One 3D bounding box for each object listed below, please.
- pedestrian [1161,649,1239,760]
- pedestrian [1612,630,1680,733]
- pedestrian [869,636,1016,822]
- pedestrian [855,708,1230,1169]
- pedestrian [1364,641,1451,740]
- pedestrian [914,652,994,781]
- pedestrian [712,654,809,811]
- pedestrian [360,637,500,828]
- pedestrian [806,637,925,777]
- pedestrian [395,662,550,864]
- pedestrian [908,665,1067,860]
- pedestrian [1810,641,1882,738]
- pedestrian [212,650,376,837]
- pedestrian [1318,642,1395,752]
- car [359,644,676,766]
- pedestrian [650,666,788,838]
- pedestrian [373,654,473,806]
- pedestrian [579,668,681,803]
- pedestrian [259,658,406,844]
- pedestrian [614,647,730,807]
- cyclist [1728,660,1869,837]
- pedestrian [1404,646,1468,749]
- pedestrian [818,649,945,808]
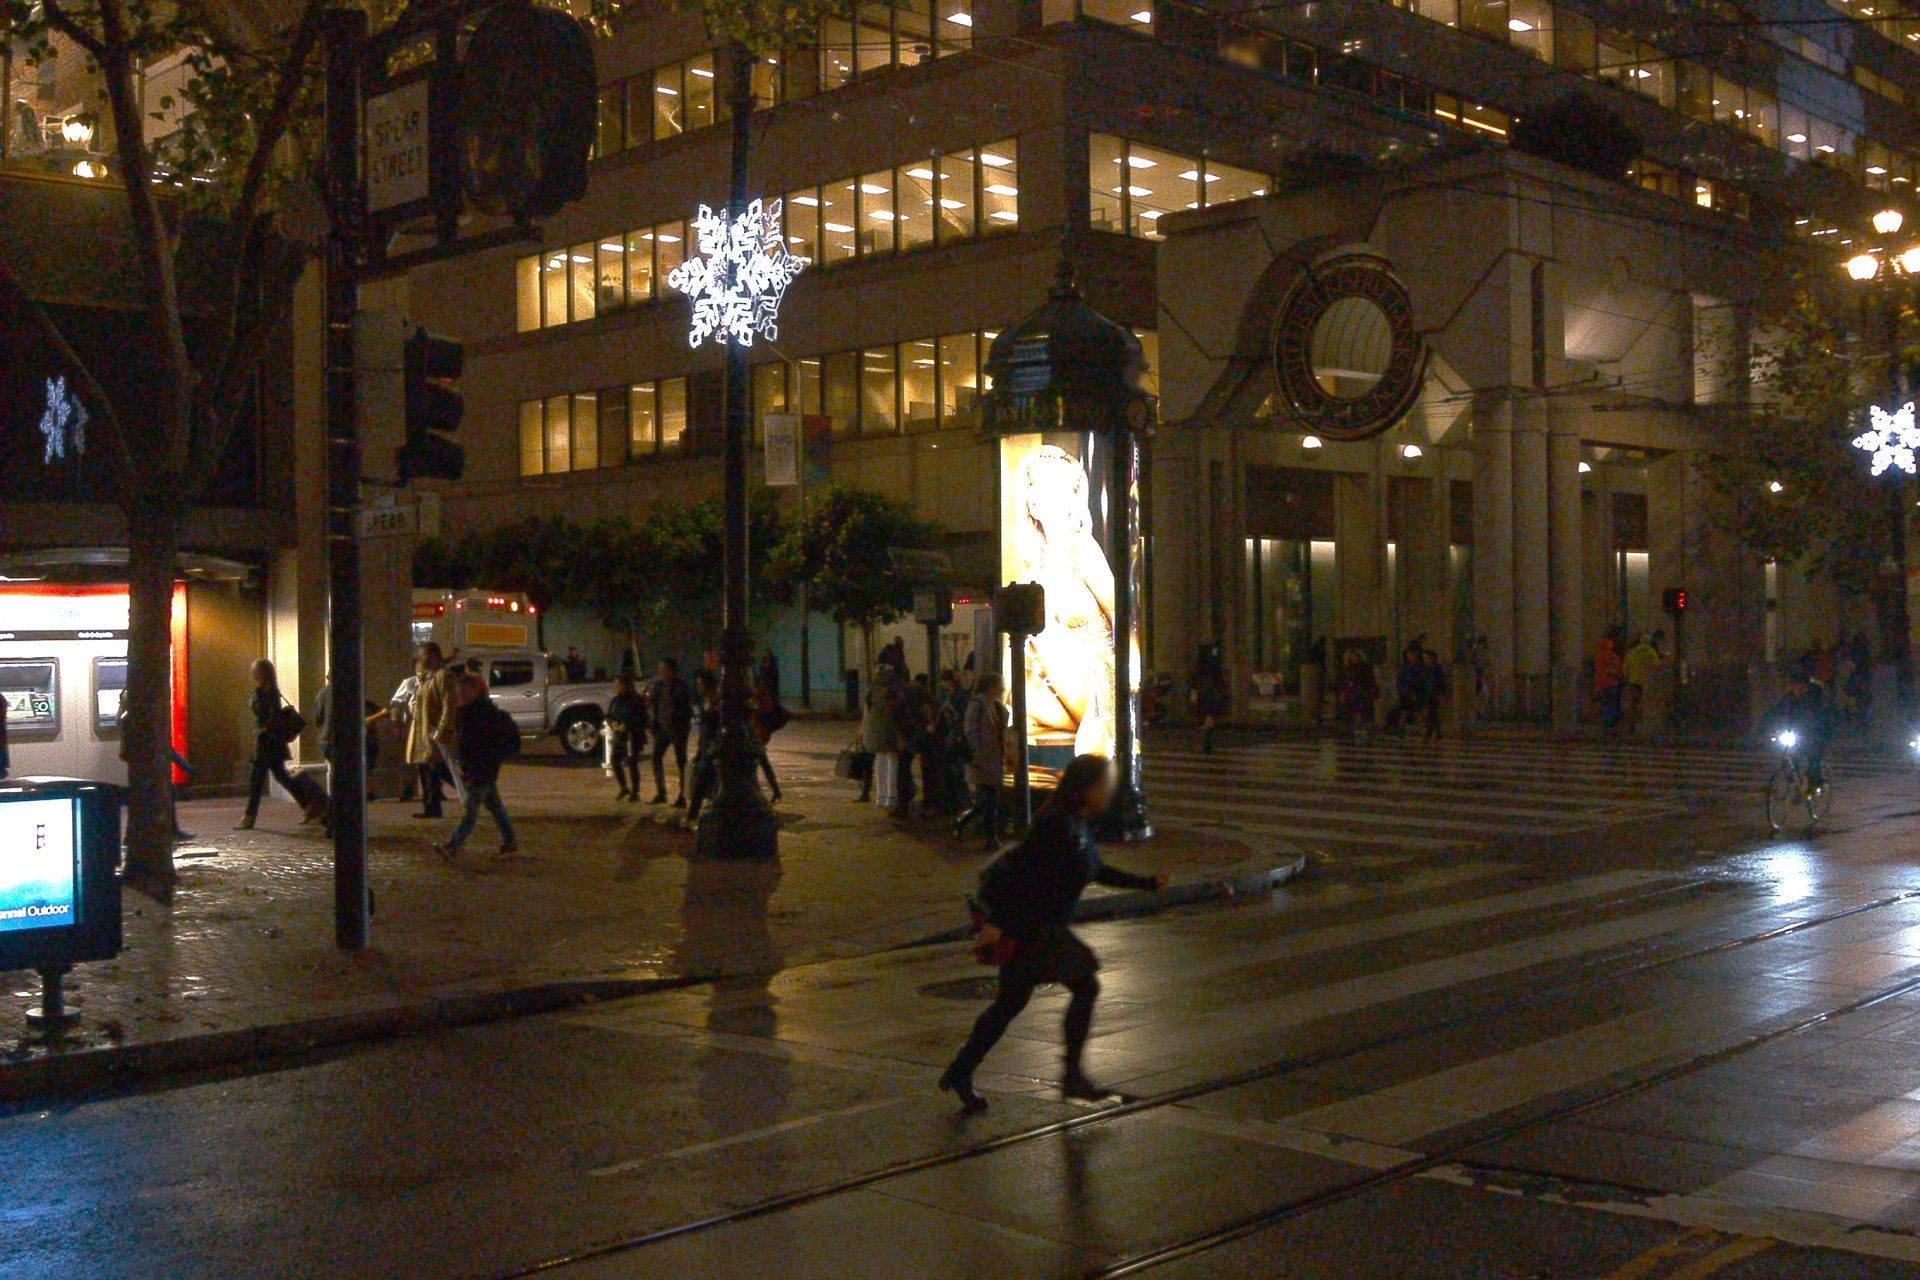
[{"bbox_3d":[3.816,1.007,32.629,0.806,1.710,0.985,1,1,41],"label":"pedestrian"},{"bbox_3d":[12.178,0.728,36.468,0.780,1.780,1.045,1,1,42],"label":"pedestrian"},{"bbox_3d":[-0.180,0.926,22.152,1.418,1.920,0.742,-1,1,-36],"label":"pedestrian"},{"bbox_3d":[0.373,1.213,8.945,1.222,1.750,1.143,1,1,31],"label":"pedestrian"},{"bbox_3d":[7.862,0.869,36.086,0.876,1.680,1.397,1,1,45],"label":"pedestrian"},{"bbox_3d":[-0.075,0.990,27.201,0.623,1.650,0.892,1,1,41],"label":"pedestrian"},{"bbox_3d":[-2.402,1.097,24.753,0.842,1.820,0.812,1,1,41],"label":"pedestrian"},{"bbox_3d":[-5.521,0.931,21.394,1.058,1.900,0.963,-1,1,-45],"label":"pedestrian"},{"bbox_3d":[-1.184,0.813,25.736,1.080,1.680,1.025,1,1,45],"label":"pedestrian"},{"bbox_3d":[-4.214,1.032,17.803,0.699,1.650,1.101,1,1,41],"label":"pedestrian"},{"bbox_3d":[0.258,1.107,19.068,1.116,1.700,0.977,1,1,34],"label":"pedestrian"},{"bbox_3d":[15.303,0.834,35.487,0.995,1.630,0.744,1,1,35],"label":"pedestrian"},{"bbox_3d":[-6.690,1.004,20.633,1.284,1.770,1.035,-1,1,-37],"label":"pedestrian"},{"bbox_3d":[6.634,0.936,34.326,0.860,1.780,0.987,1,1,43],"label":"pedestrian"},{"bbox_3d":[-7.407,1.071,34.750,4.910,1.960,1.934,0,1,0],"label":"car"},{"bbox_3d":[-2.400,1.084,20.430,1.083,1.620,0.886,-1,1,-32],"label":"pedestrian"},{"bbox_3d":[-6.048,0.999,23.170,0.883,1.670,0.697,0,1,6],"label":"pedestrian"},{"bbox_3d":[-3.838,1.097,23.924,0.776,1.500,0.879,1,1,36],"label":"pedestrian"},{"bbox_3d":[-6.029,1.035,19.734,1.067,1.690,0.925,-1,1,-41],"label":"pedestrian"},{"bbox_3d":[-3.251,0.960,23.206,0.988,1.730,0.843,-1,1,-43],"label":"pedestrian"},{"bbox_3d":[8.601,1.071,21.036,0.755,1.680,1.798,1,1,42],"label":"cyclist"},{"bbox_3d":[8.255,0.982,35.617,0.657,1.720,0.998,1,1,45],"label":"pedestrian"},{"bbox_3d":[-0.892,0.981,23.288,1.120,1.720,0.908,-1,1,-38],"label":"pedestrian"}]
